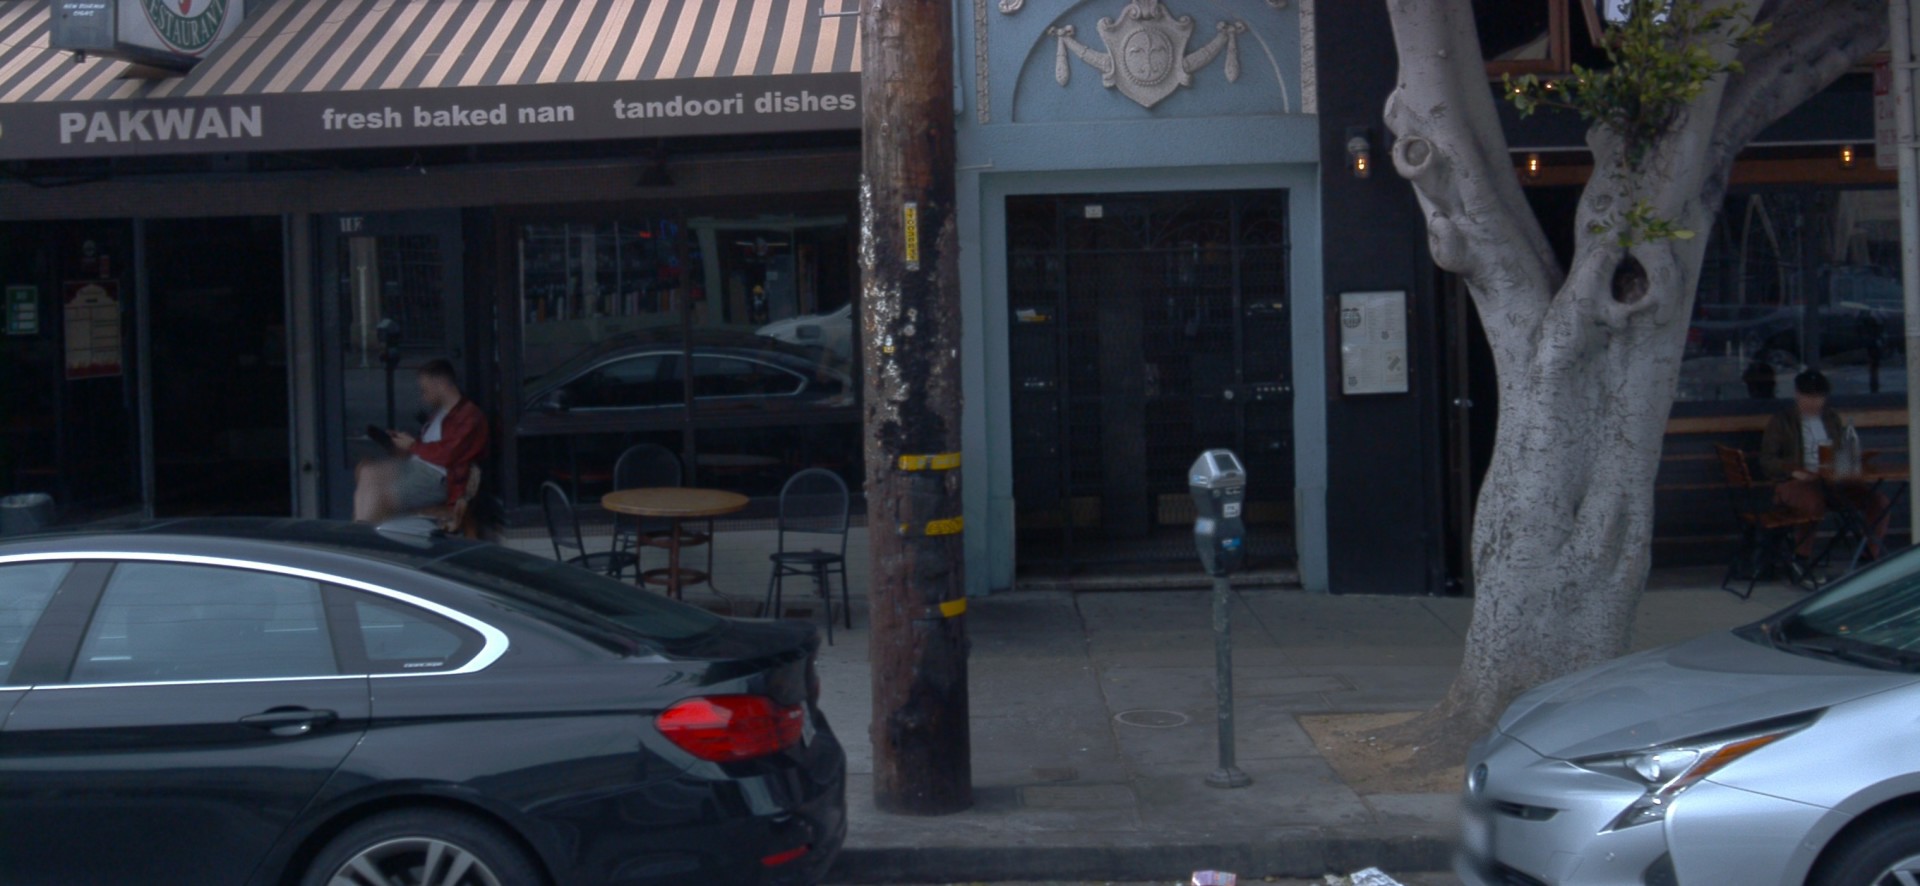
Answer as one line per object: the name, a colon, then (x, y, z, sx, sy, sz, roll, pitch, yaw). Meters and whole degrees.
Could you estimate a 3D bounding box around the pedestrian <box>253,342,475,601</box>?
pedestrian: (-3.544, 0.132, 12.257, 0.676, 1.397, 1.074, 2, 3, 45)

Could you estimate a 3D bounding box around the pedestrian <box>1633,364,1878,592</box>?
pedestrian: (4.796, 0.189, 12.477, 1.143, 1.270, 0.884, 0, 3, 1)
